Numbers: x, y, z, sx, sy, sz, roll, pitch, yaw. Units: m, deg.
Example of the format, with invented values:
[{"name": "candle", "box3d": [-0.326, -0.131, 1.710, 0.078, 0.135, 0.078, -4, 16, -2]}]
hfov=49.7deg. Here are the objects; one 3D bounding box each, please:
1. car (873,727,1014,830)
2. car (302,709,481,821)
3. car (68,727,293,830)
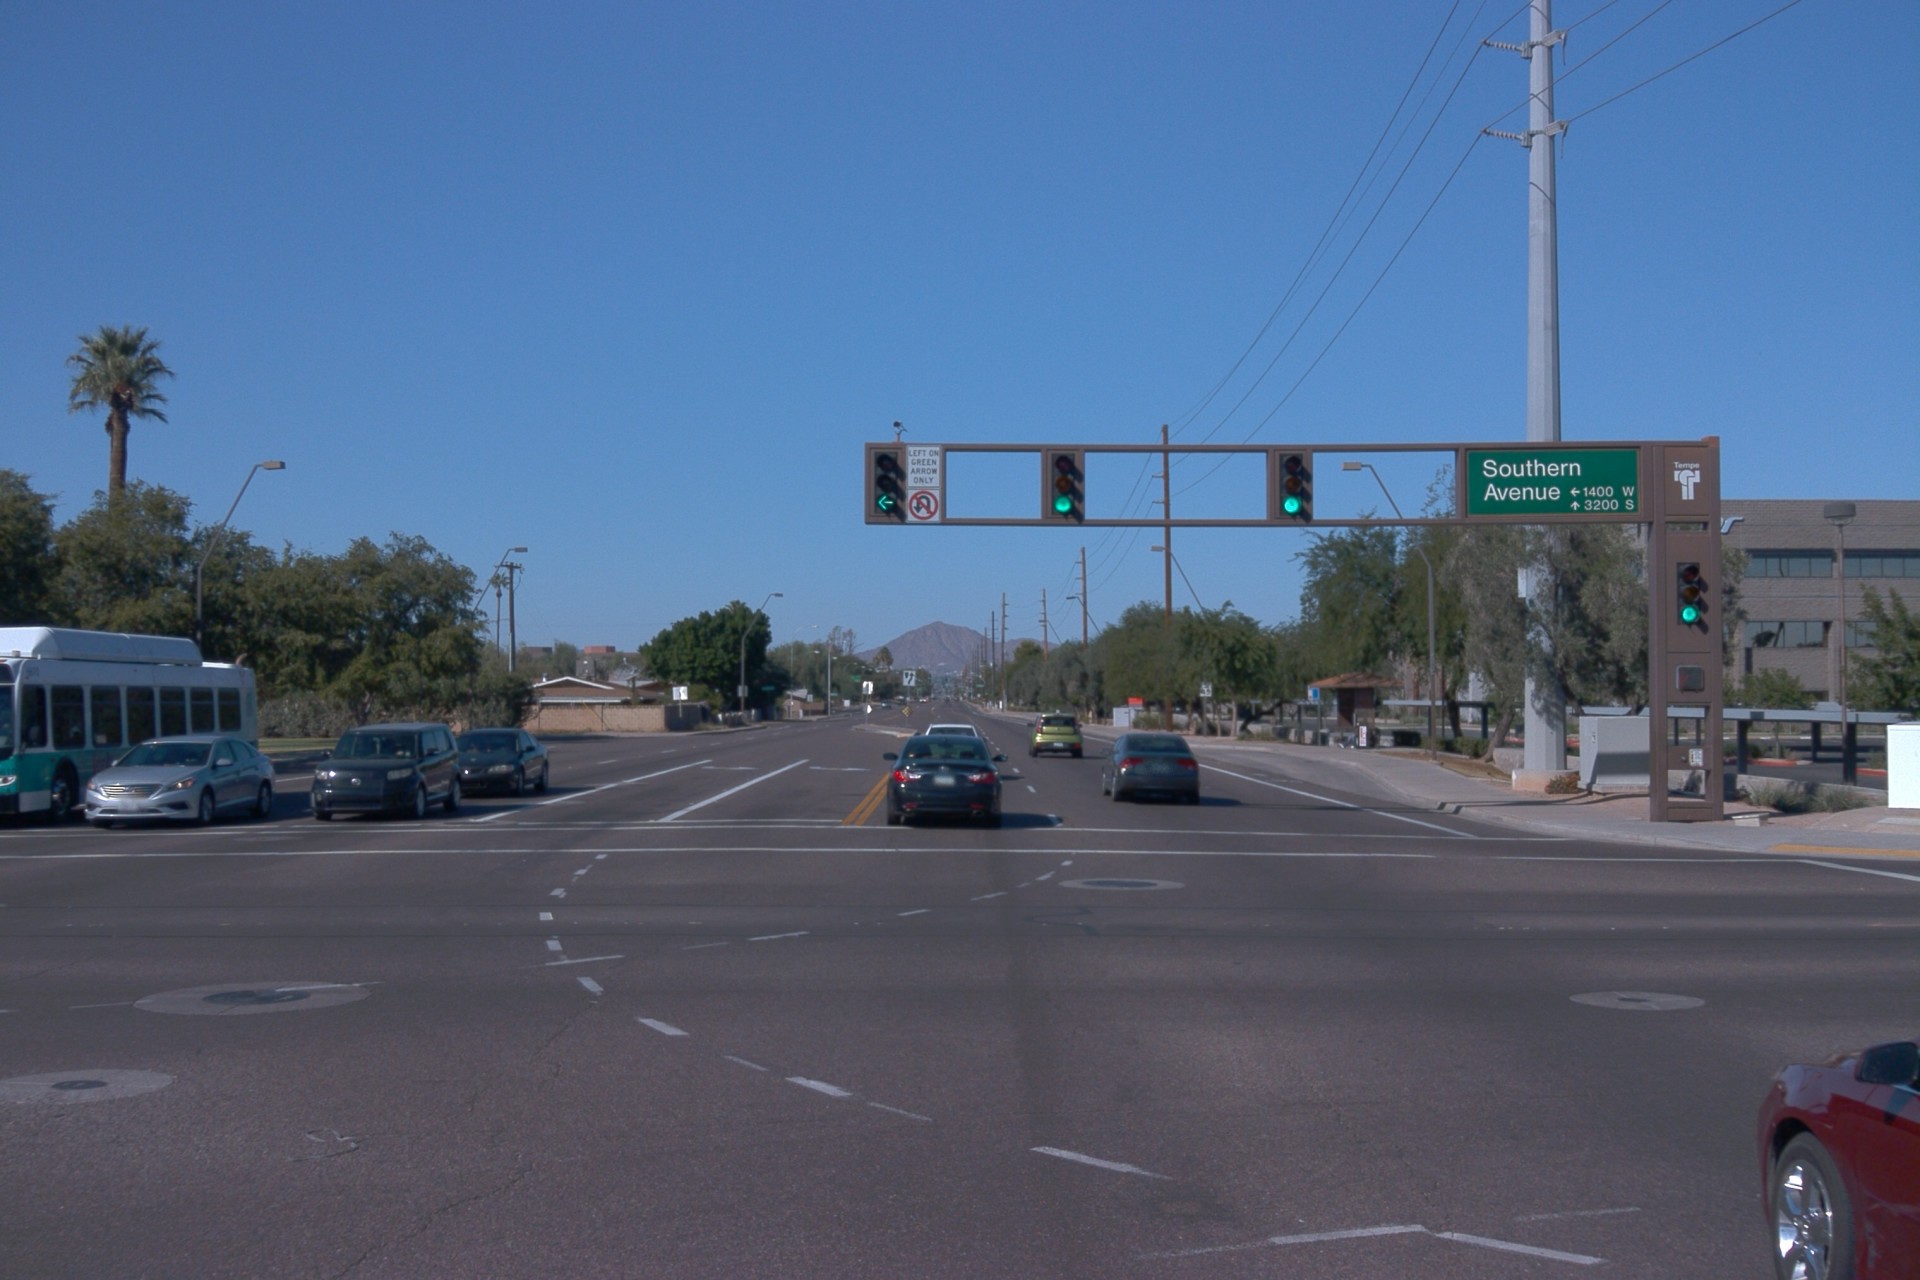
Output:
[{"name": "car", "box3d": [-0.226, 2.231, 34.248, 2.157, 1.470, 4.805, 0, -1, 1]}, {"name": "car", "box3d": [-9.845, 2.125, 36.220, 1.983, 1.790, 4.260, 0, -1, 0]}, {"name": "car", "box3d": [-13.031, 2.278, 34.972, 2.076, 1.500, 4.802, 0, -1, -1]}]
